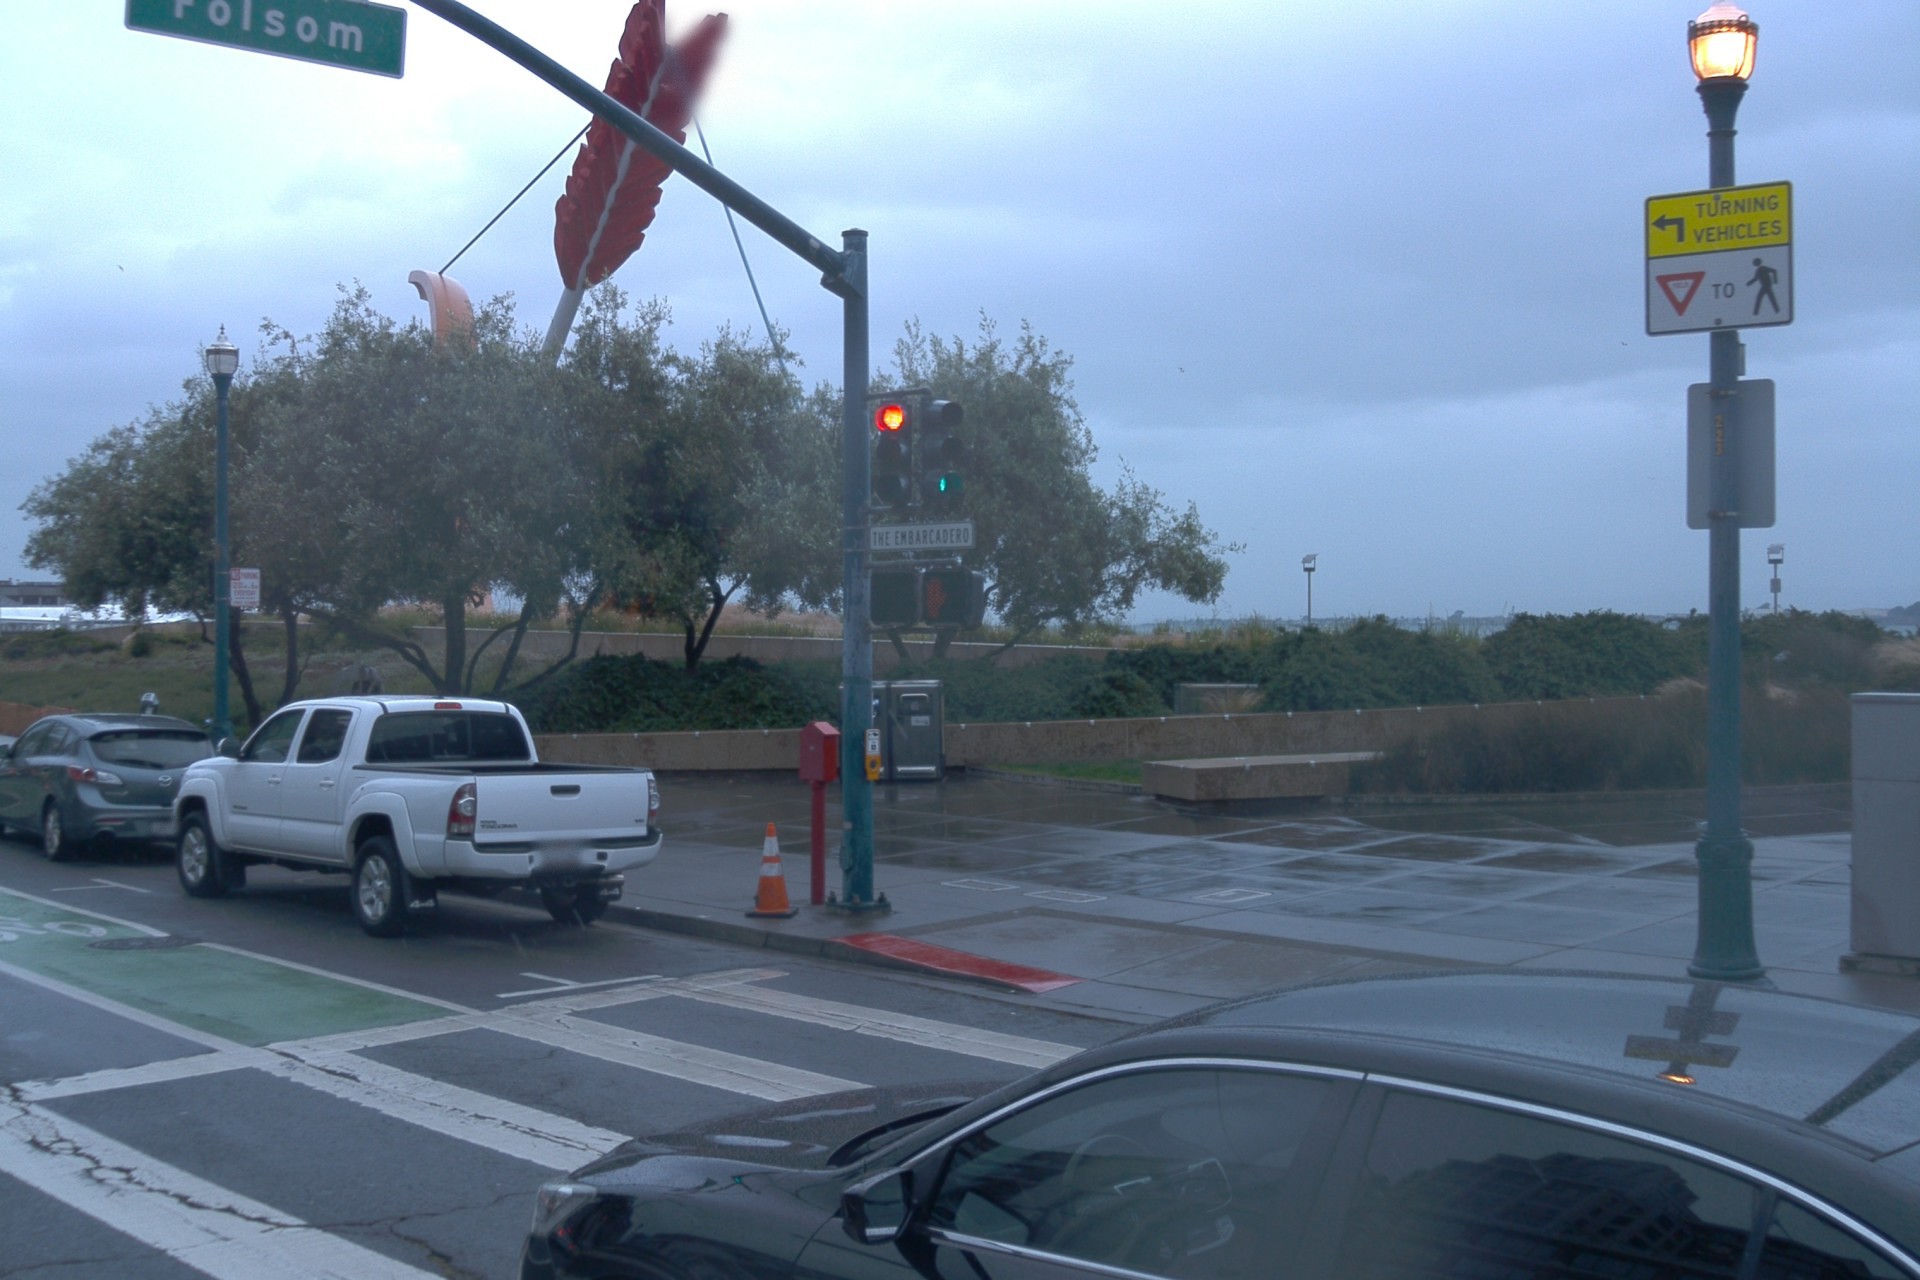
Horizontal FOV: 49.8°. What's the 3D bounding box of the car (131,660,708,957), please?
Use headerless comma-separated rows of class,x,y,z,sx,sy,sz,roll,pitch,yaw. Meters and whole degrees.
car,-4.599,1.187,16.957,2.249,2.000,5.447,1,-1,-43

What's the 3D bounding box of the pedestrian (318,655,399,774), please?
pedestrian,-9.221,1.130,31.745,0.931,1.800,0.874,0,-1,5
